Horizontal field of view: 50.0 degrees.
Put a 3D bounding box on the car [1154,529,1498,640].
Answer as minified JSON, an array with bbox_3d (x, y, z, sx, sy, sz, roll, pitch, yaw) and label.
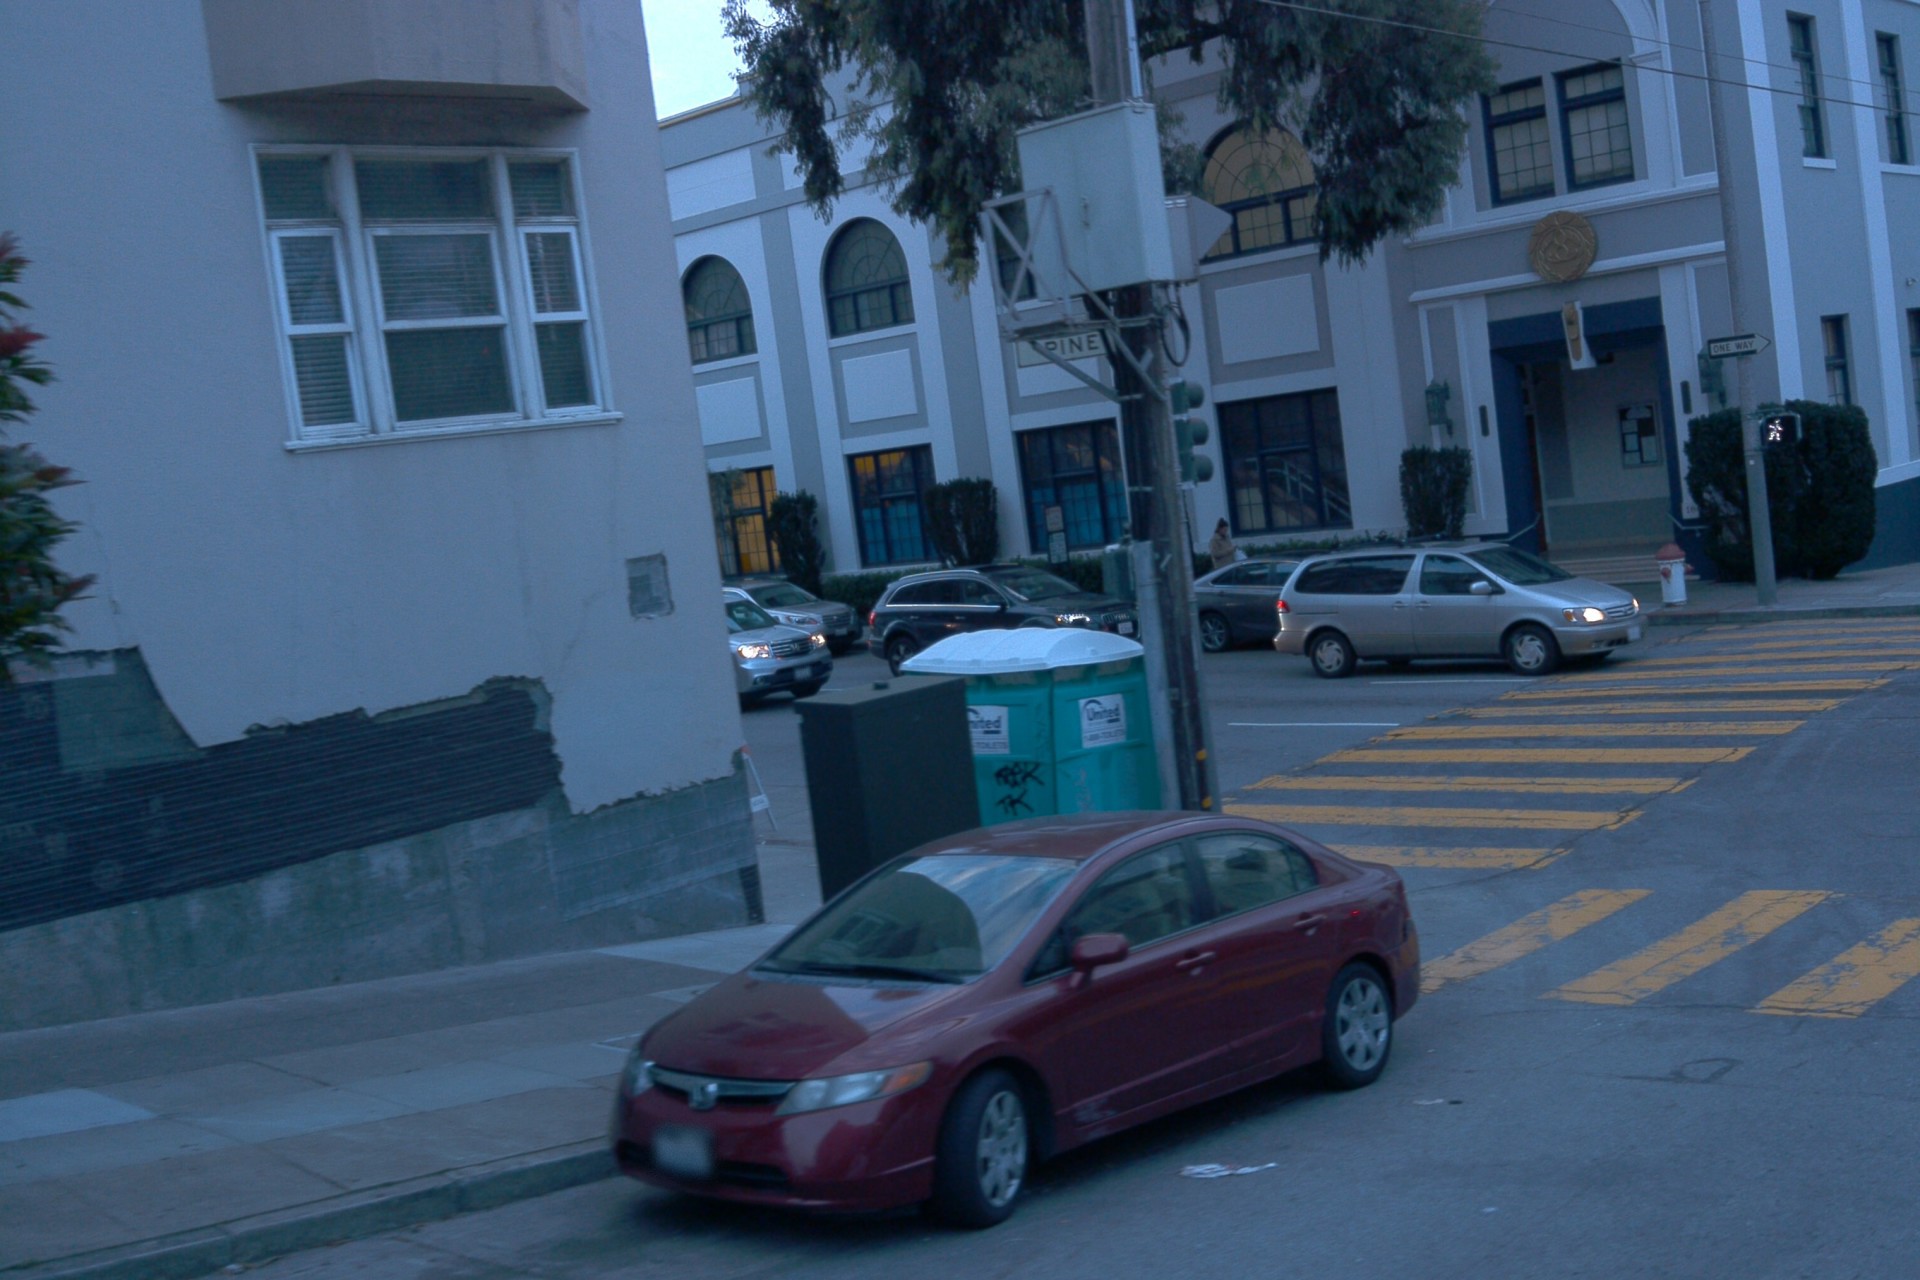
[{"bbox_3d":[5.641,-0.839,32.120,4.891,1.610,2.152,1,1,44],"label":"car"}]

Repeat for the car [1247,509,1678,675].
[{"bbox_3d":[6.439,-0.609,26.759,4.978,1.950,2.238,1,1,44],"label":"car"}]

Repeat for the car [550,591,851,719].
[{"bbox_3d":[-4.223,0.184,33.035,4.735,1.900,2.269,1,1,42],"label":"car"}]

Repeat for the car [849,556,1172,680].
[{"bbox_3d":[0.727,-0.367,32.730,2.228,1.820,4.978,0,1,-45],"label":"car"}]

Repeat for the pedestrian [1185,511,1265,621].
[{"bbox_3d":[4.699,-1.302,36.456,1.087,1.903,0.865,1,1,43],"label":"pedestrian"}]

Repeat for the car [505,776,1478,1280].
[{"bbox_3d":[0.374,1.631,9.481,1.985,1.660,4.493,1,1,43],"label":"car"}]
